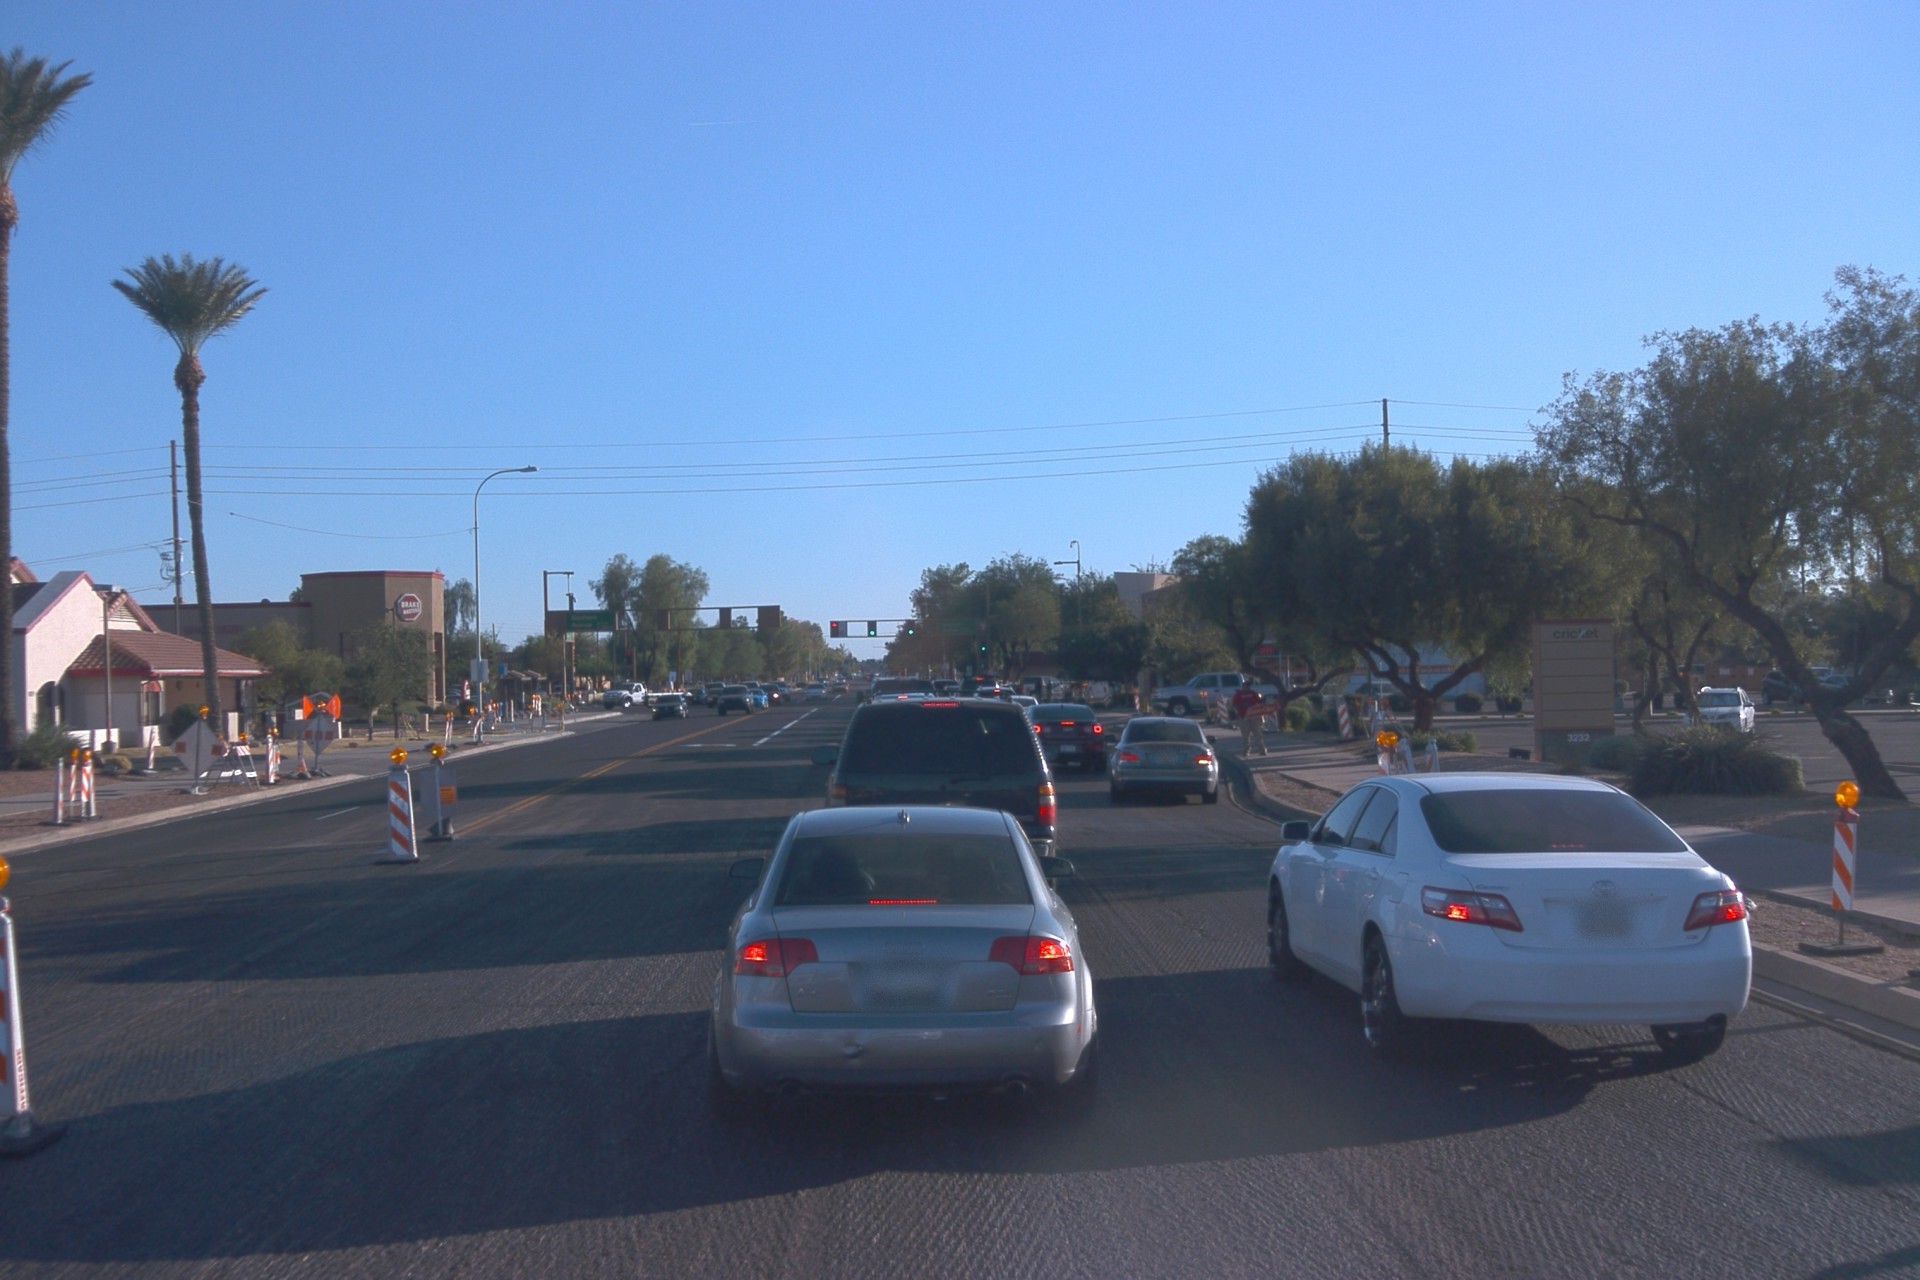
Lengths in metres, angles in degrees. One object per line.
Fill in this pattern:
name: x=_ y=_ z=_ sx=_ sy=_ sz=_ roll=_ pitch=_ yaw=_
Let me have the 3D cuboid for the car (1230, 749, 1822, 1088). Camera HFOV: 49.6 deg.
car: x=3.059 y=1.473 z=12.444 sx=2.124 sy=1.470 sz=4.694 roll=0 pitch=-1 yaw=-2

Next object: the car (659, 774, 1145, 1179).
car: x=-0.288 y=1.554 z=10.917 sx=2.033 sy=1.480 sz=4.403 roll=0 pitch=-1 yaw=-1

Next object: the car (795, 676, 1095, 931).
car: x=-0.213 y=1.354 z=19.200 sx=2.405 sy=2.040 sz=5.063 roll=0 pitch=-1 yaw=-2

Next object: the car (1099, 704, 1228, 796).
car: x=3.384 y=1.821 z=35.327 sx=1.992 sy=1.410 sz=4.325 roll=0 pitch=-1 yaw=3
